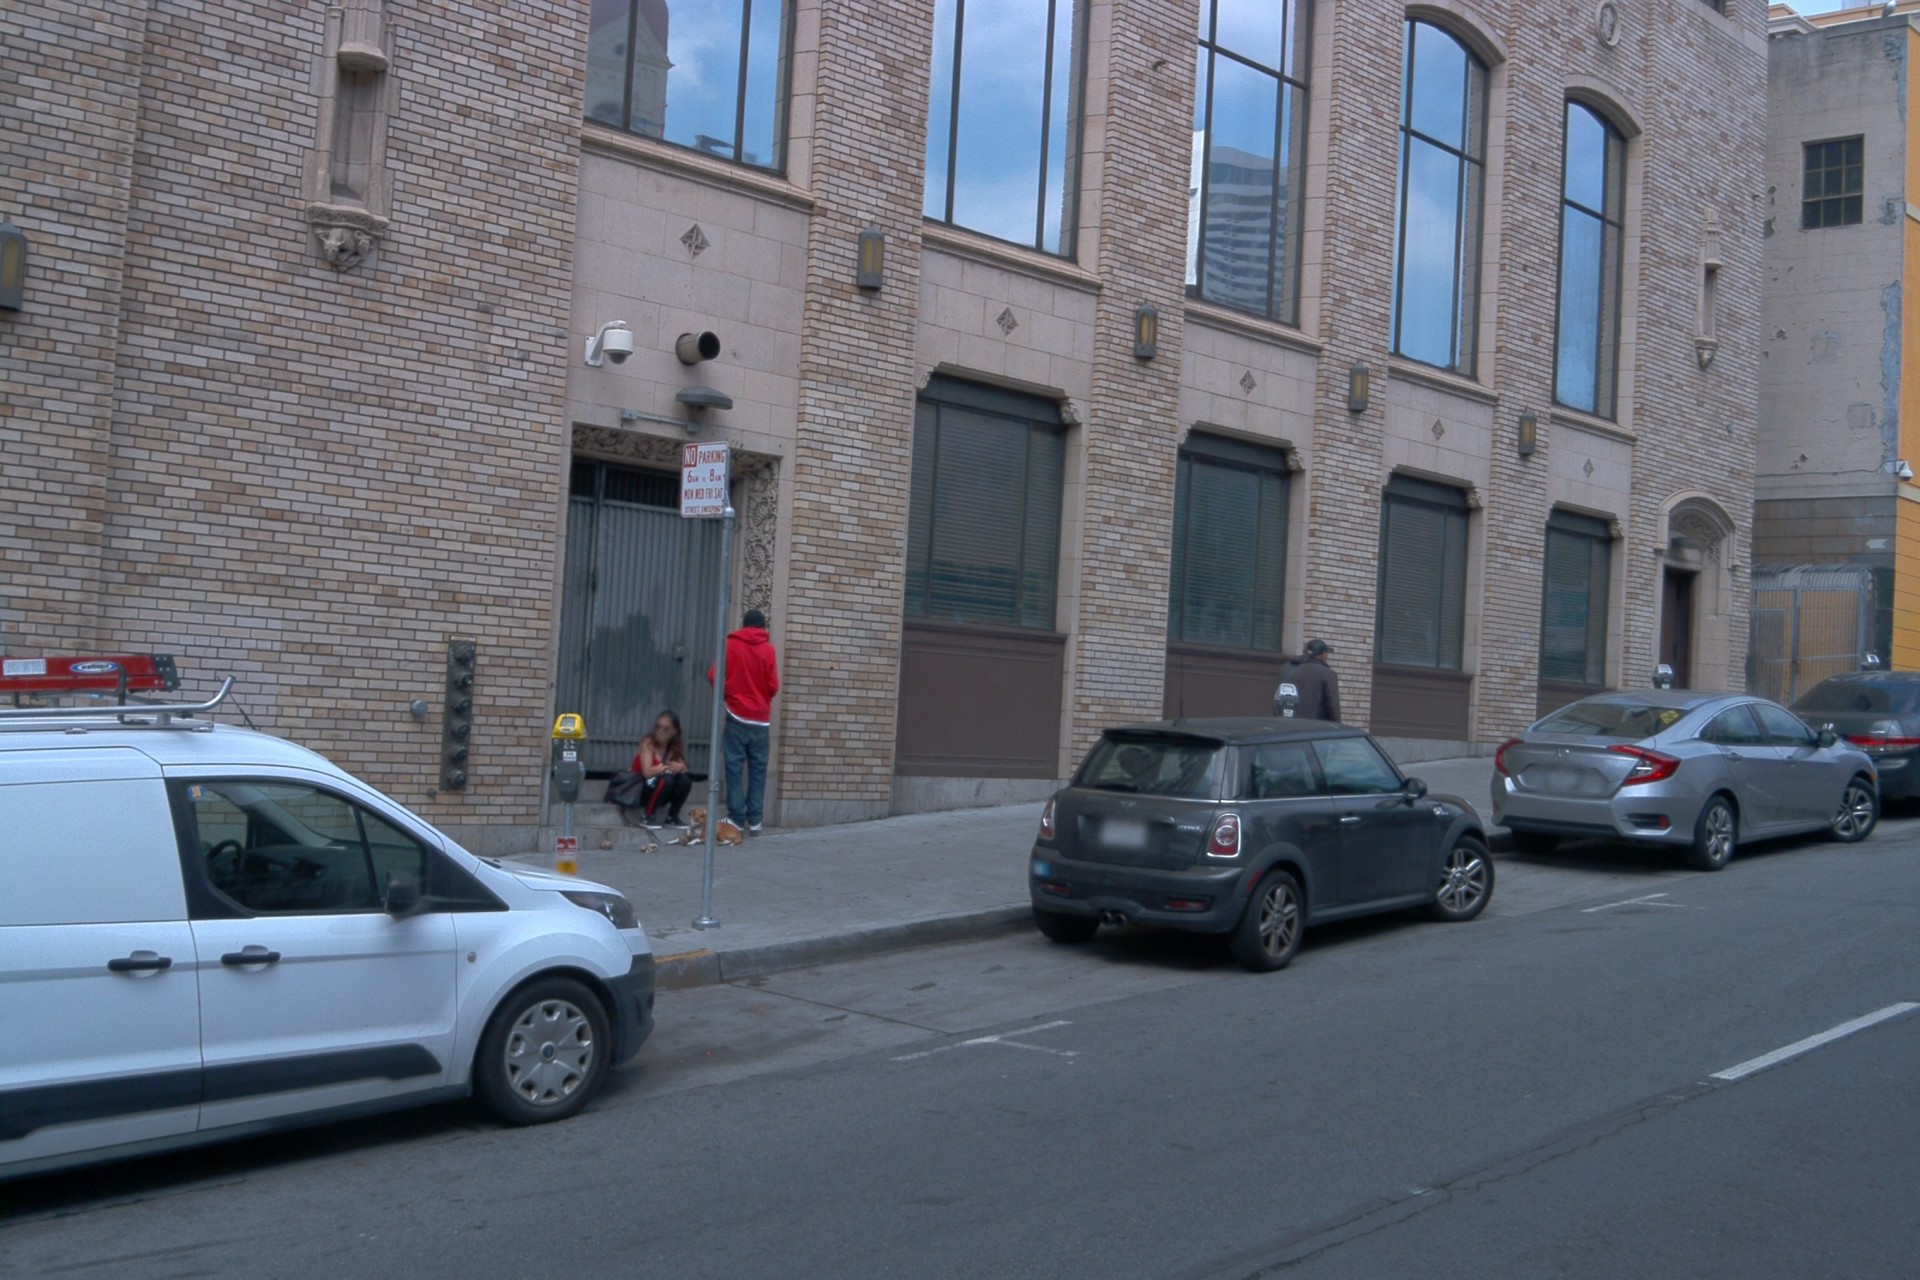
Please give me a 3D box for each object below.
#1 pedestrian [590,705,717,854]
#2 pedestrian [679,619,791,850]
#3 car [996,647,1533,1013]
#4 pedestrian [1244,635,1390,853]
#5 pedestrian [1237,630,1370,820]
[{"bbox_3d":[-2.381,1.063,16.034,0.713,1.080,0.681,1,1,44],"label":"pedestrian"},{"bbox_3d":[-1.813,0.737,16.563,0.786,1.800,0.728,0,1,-15],"label":"pedestrian"},{"bbox_3d":[2.109,1.074,13.539,1.729,1.980,3.770,1,1,41],"label":"car"},{"bbox_3d":[3.082,0.864,17.842,0.870,1.810,0.897,-1,1,-42],"label":"pedestrian"},{"bbox_3d":[3.334,0.799,20.046,0.923,1.780,0.899,-1,1,-43],"label":"pedestrian"}]
